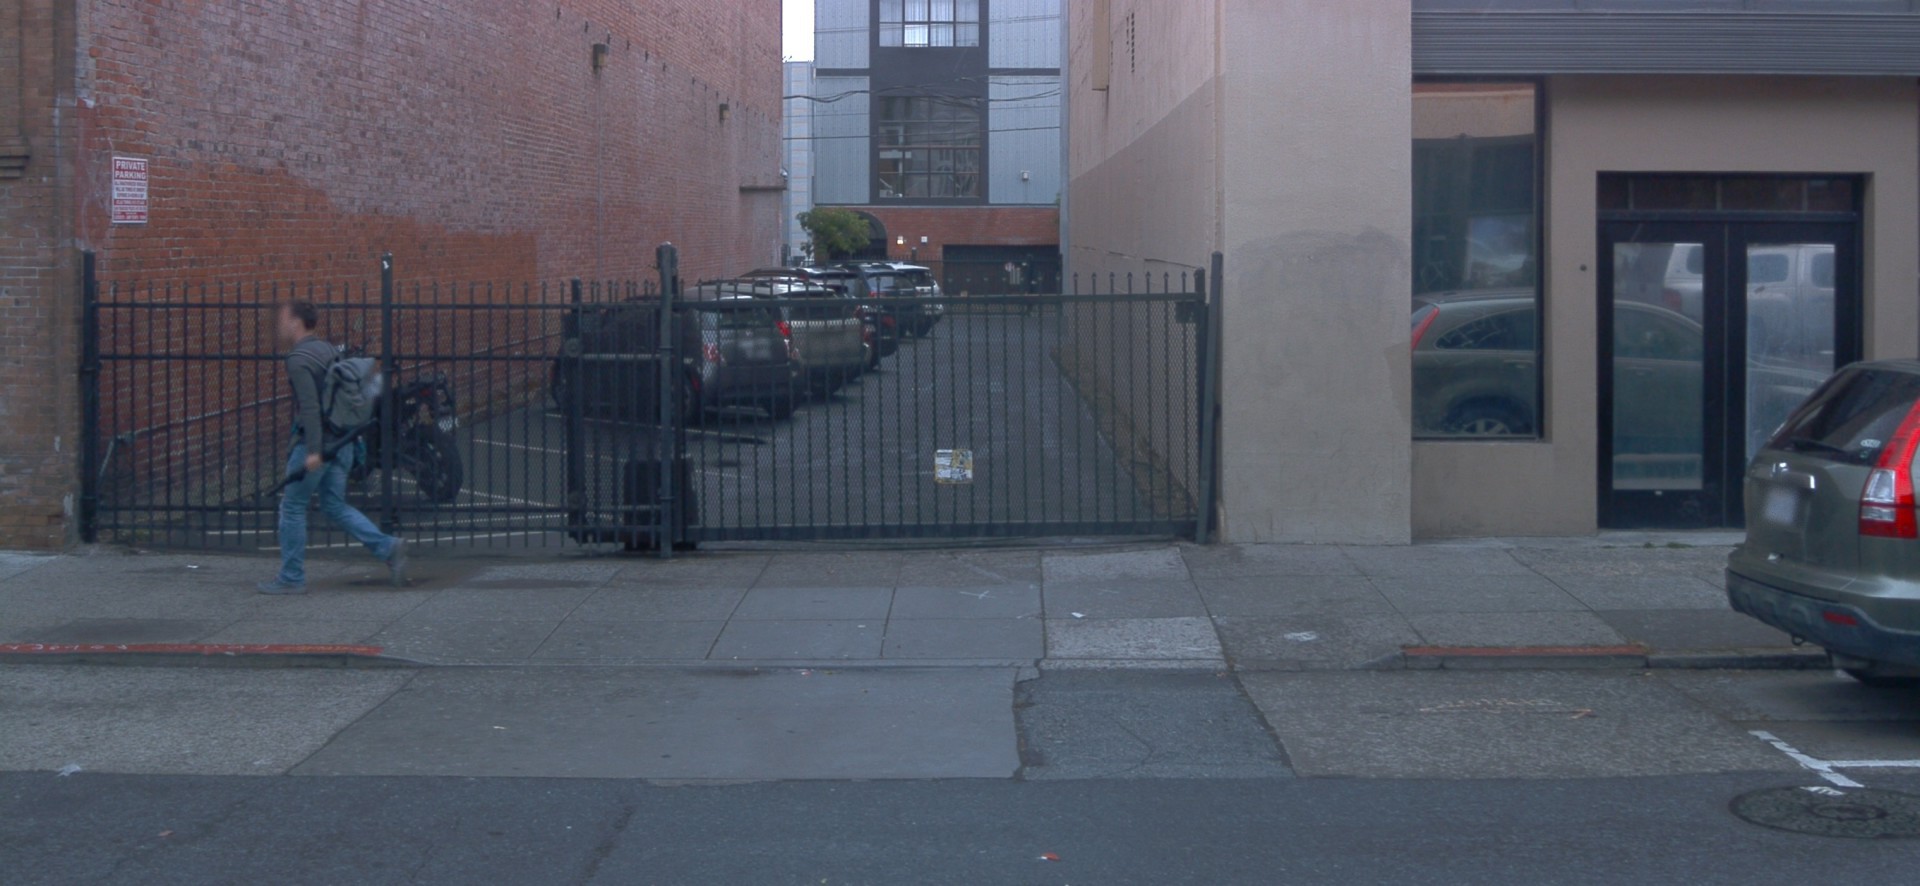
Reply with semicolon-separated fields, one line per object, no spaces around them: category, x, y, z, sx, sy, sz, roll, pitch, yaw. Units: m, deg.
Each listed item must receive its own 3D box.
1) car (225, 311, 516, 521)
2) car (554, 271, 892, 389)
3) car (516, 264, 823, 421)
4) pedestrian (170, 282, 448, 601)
car;-4.836;-0.284;16.924;2.413;1.477;1.168;4;4;41
car;-3.327;-1.621;28.632;4.644;1.395;1.983;5;6;40
car;-3.566;-1.291;25.127;3.694;1.676;1.797;5;6;44
pedestrian;-3.884;-0.050;12.472;1.304;1.799;1.013;0;1;5
